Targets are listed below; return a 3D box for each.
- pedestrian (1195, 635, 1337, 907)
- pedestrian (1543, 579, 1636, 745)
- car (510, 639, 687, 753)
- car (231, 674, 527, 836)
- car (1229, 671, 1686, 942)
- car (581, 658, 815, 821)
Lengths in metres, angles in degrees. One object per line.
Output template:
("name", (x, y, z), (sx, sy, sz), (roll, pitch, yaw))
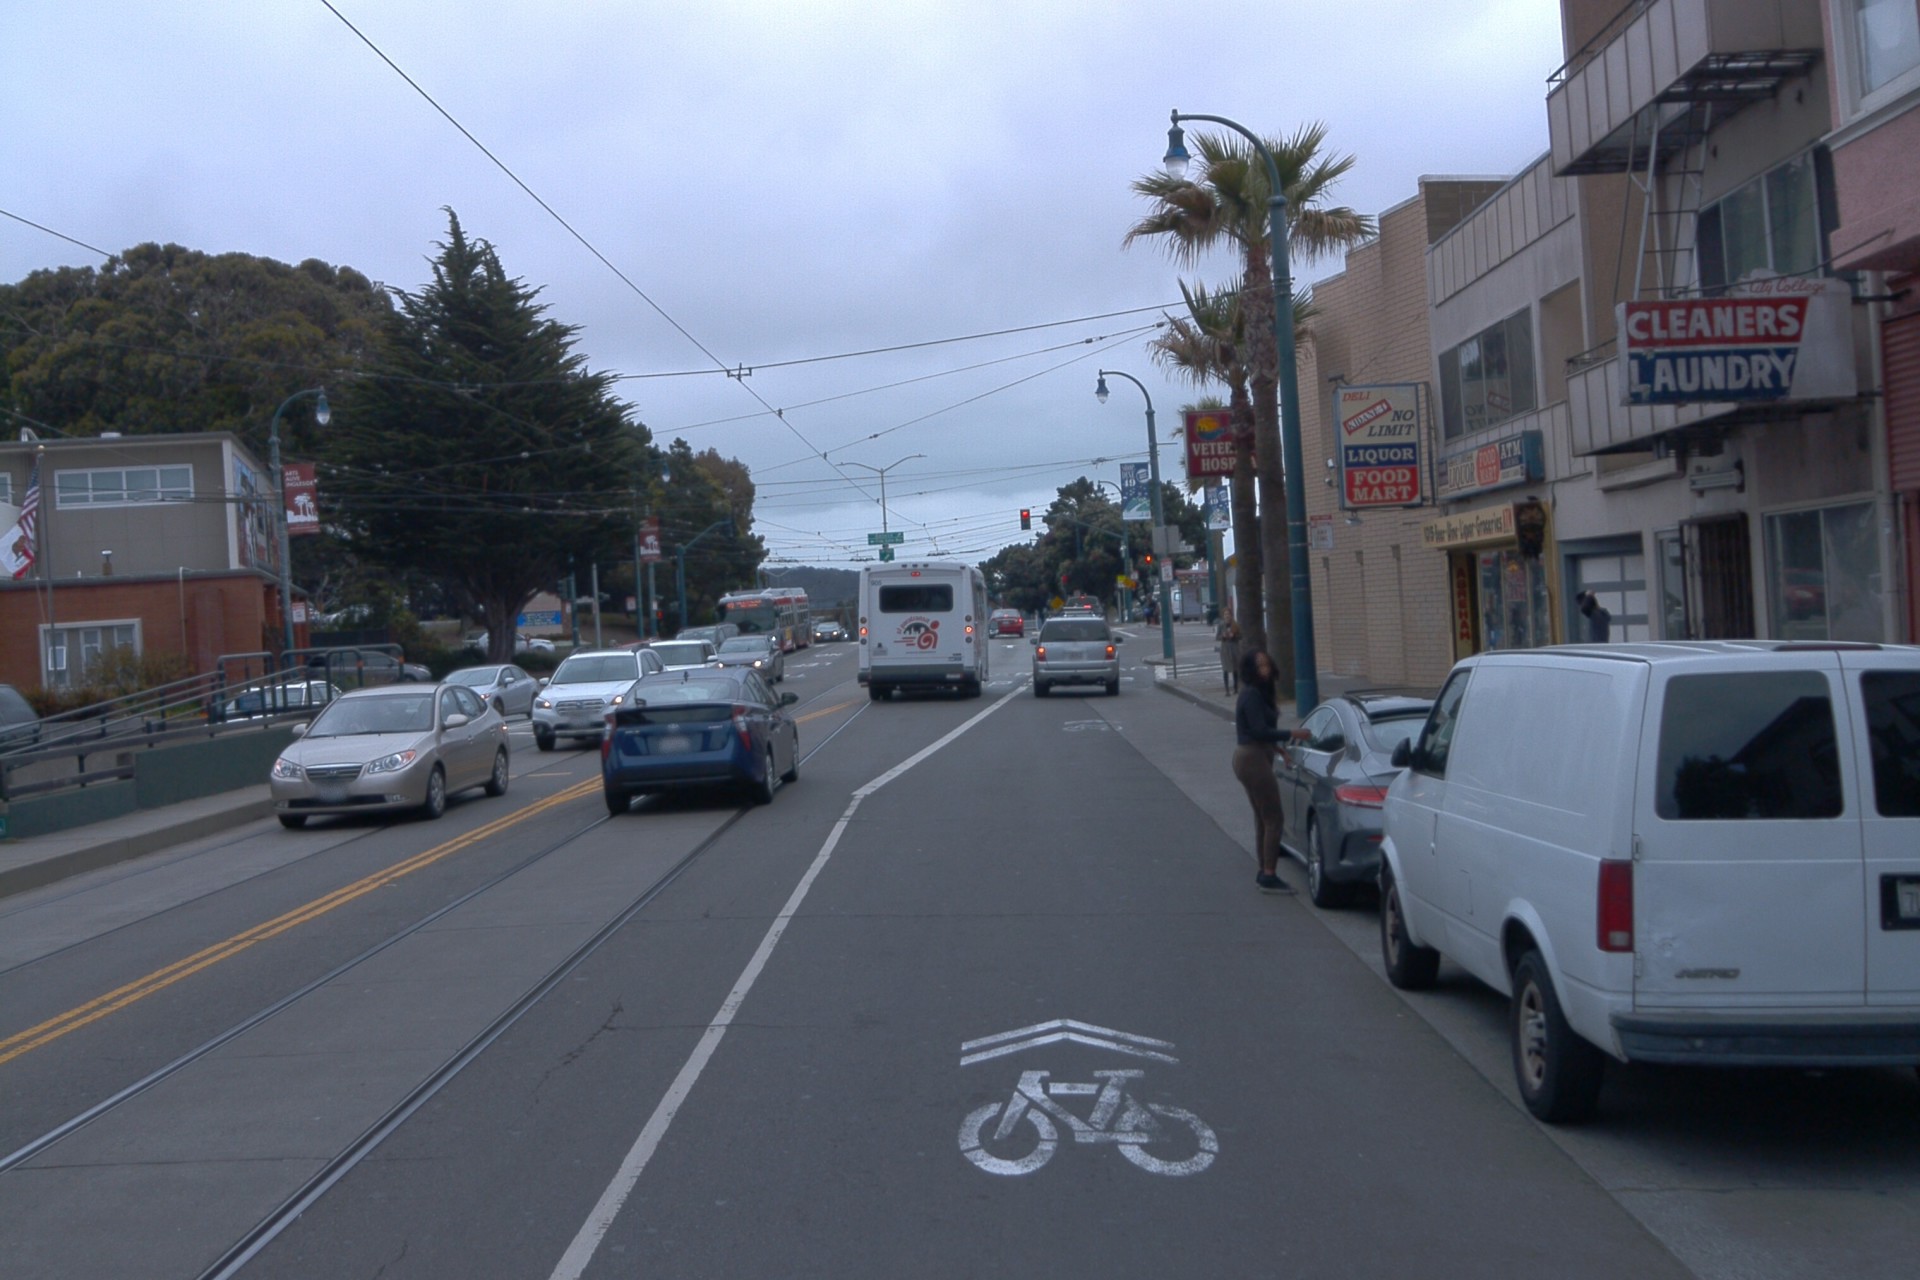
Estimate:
("pedestrian", (2.203, 0.900, 14.728), (0.853, 1.860, 0.976), (0, 1, 18))
("pedestrian", (7.025, 0.237, 22.967), (0.806, 1.820, 0.856), (0, 1, 3))
("car", (-6.076, 0.888, 35.145), (2.144, 1.740, 4.817), (0, 1, 0))
("car", (-6.534, 1.242, 23.688), (2.031, 1.540, 4.443), (0, 1, 2))
("car", (3.442, 1.081, 15.346), (2.201, 1.540, 4.890), (0, 1, 0))
("car", (-2.819, 1.034, 23.079), (1.972, 1.540, 4.259), (0, 1, 2))
